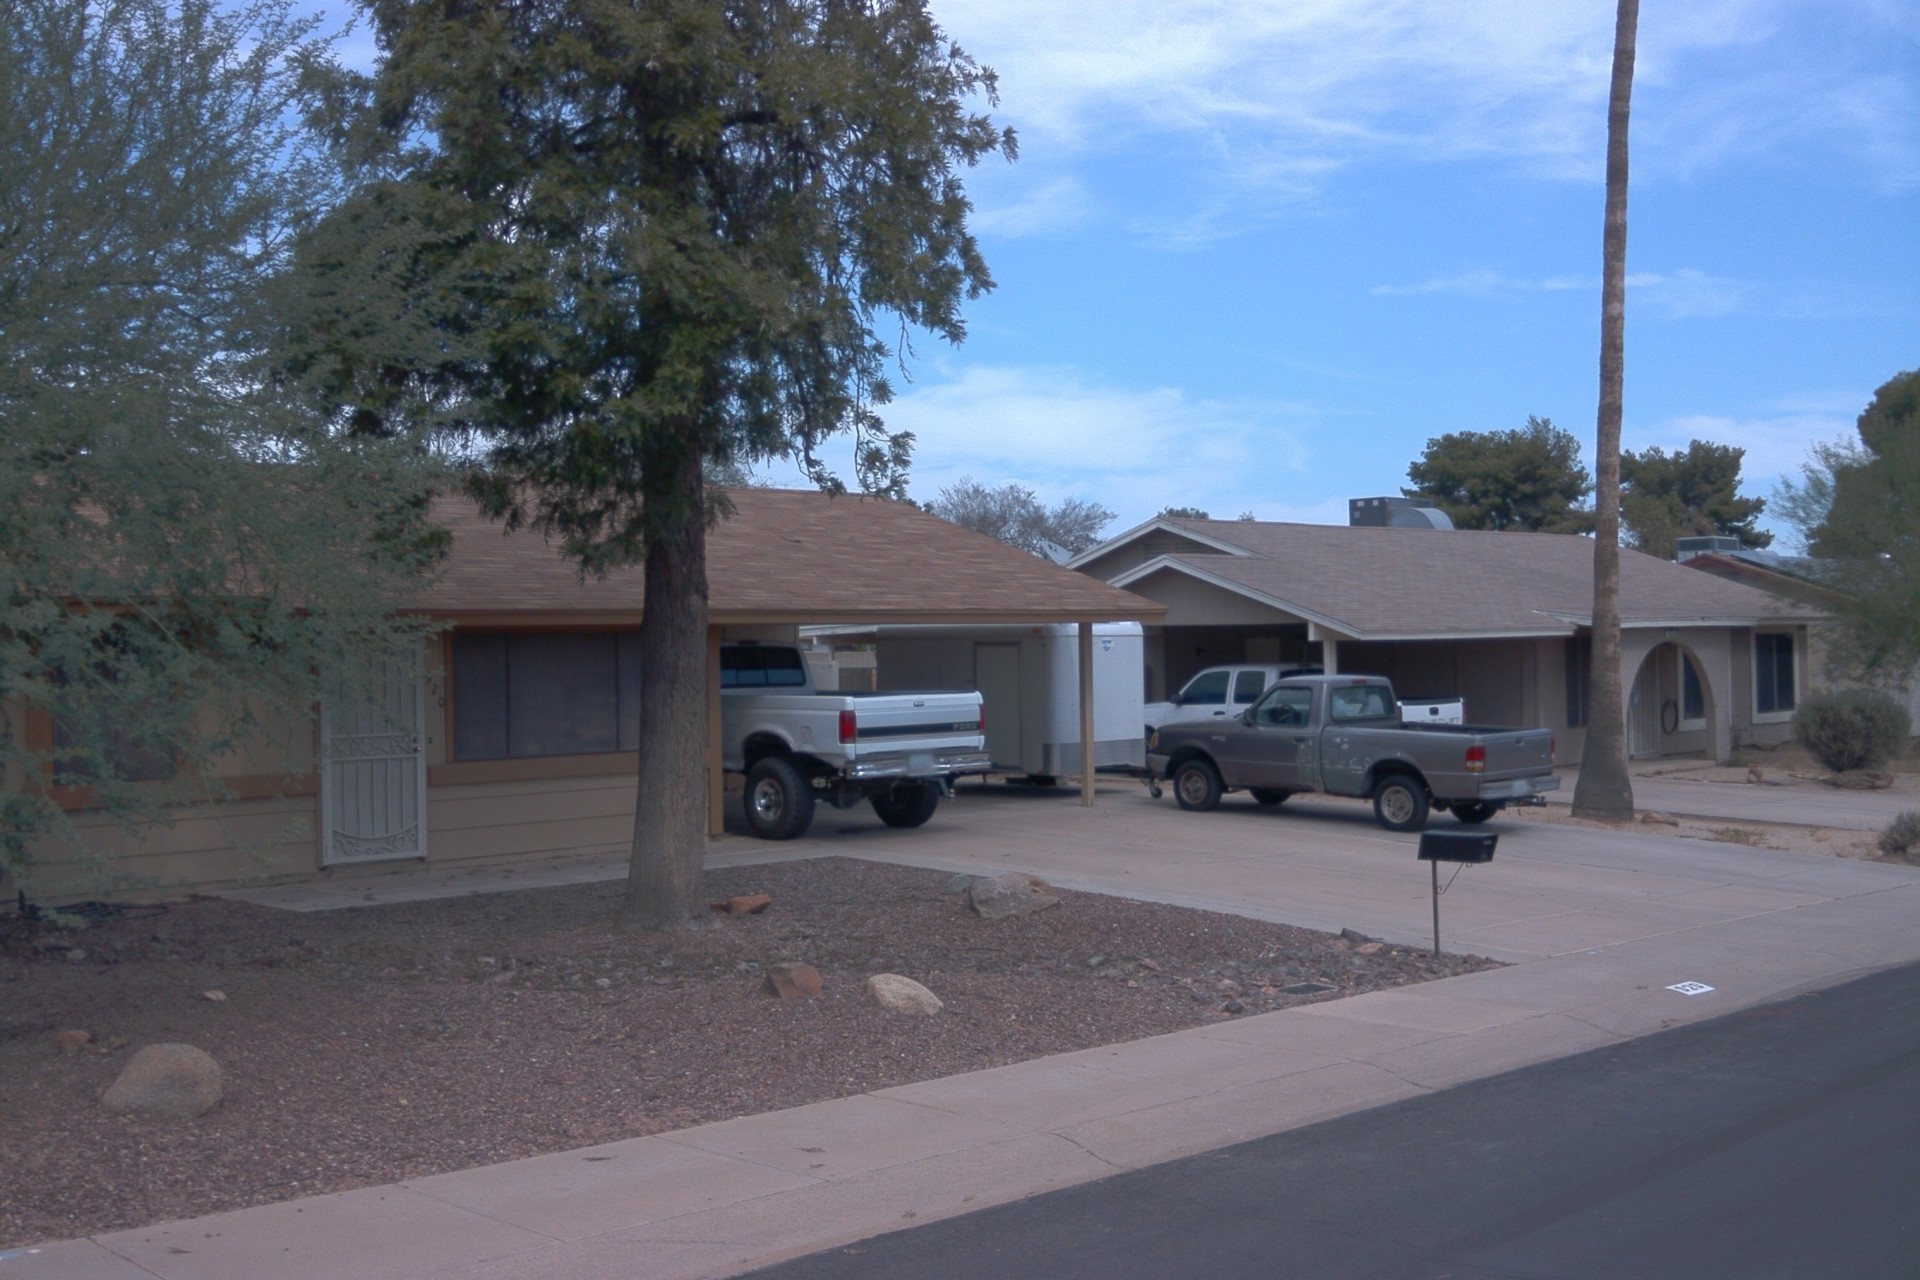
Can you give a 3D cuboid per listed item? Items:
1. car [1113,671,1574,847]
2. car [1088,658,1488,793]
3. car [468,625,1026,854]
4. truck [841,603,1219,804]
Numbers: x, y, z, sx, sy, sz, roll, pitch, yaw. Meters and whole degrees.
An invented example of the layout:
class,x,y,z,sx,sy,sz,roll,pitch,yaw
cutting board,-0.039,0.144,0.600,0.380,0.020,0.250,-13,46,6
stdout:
class,x,y,z,sx,sy,sz,roll,pitch,yaw
car,4.284,1.257,23.858,4.849,1.760,2.087,0,0,45
car,4.908,1.213,31.862,2.469,1.860,5.674,0,0,-45
car,-2.545,0.959,22.986,2.567,2.170,6.579,0,0,-45
truck,0.846,0.773,27.400,2.372,2.400,4.573,0,0,-45
